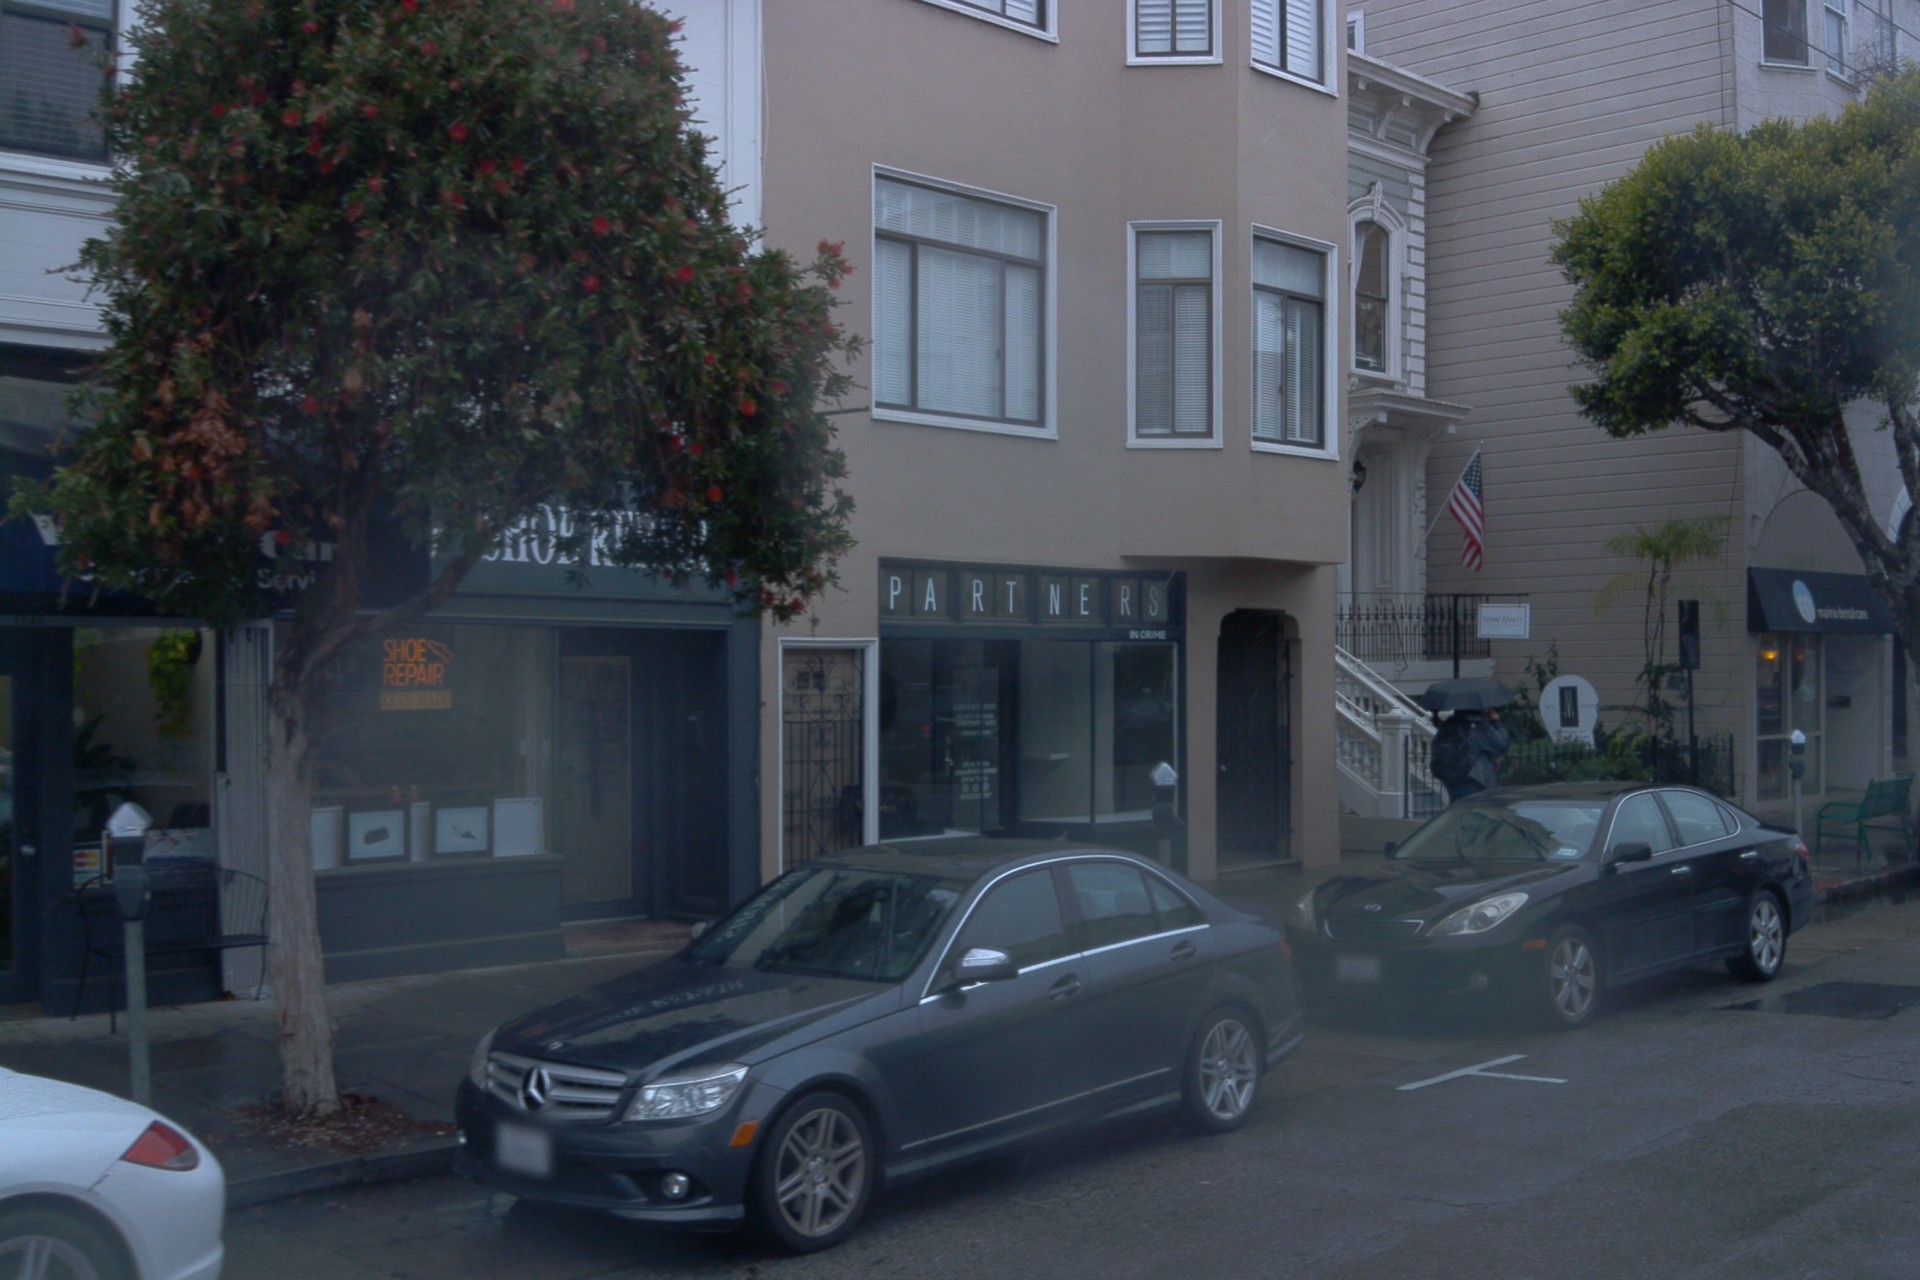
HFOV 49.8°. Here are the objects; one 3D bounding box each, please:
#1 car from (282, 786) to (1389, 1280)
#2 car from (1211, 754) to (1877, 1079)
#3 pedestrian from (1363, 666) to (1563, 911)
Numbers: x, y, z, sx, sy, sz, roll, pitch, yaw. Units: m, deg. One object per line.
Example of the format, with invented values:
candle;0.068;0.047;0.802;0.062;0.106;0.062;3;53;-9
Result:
car;-0.250;1.606;9.353;2.143;1.490;4.943;2;1;41
car;4.124;1.674;13.985;5.151;1.490;2.027;0;1;-45
pedestrian;4.679;1.328;19.205;1.167;2.120;1.522;2;1;43
